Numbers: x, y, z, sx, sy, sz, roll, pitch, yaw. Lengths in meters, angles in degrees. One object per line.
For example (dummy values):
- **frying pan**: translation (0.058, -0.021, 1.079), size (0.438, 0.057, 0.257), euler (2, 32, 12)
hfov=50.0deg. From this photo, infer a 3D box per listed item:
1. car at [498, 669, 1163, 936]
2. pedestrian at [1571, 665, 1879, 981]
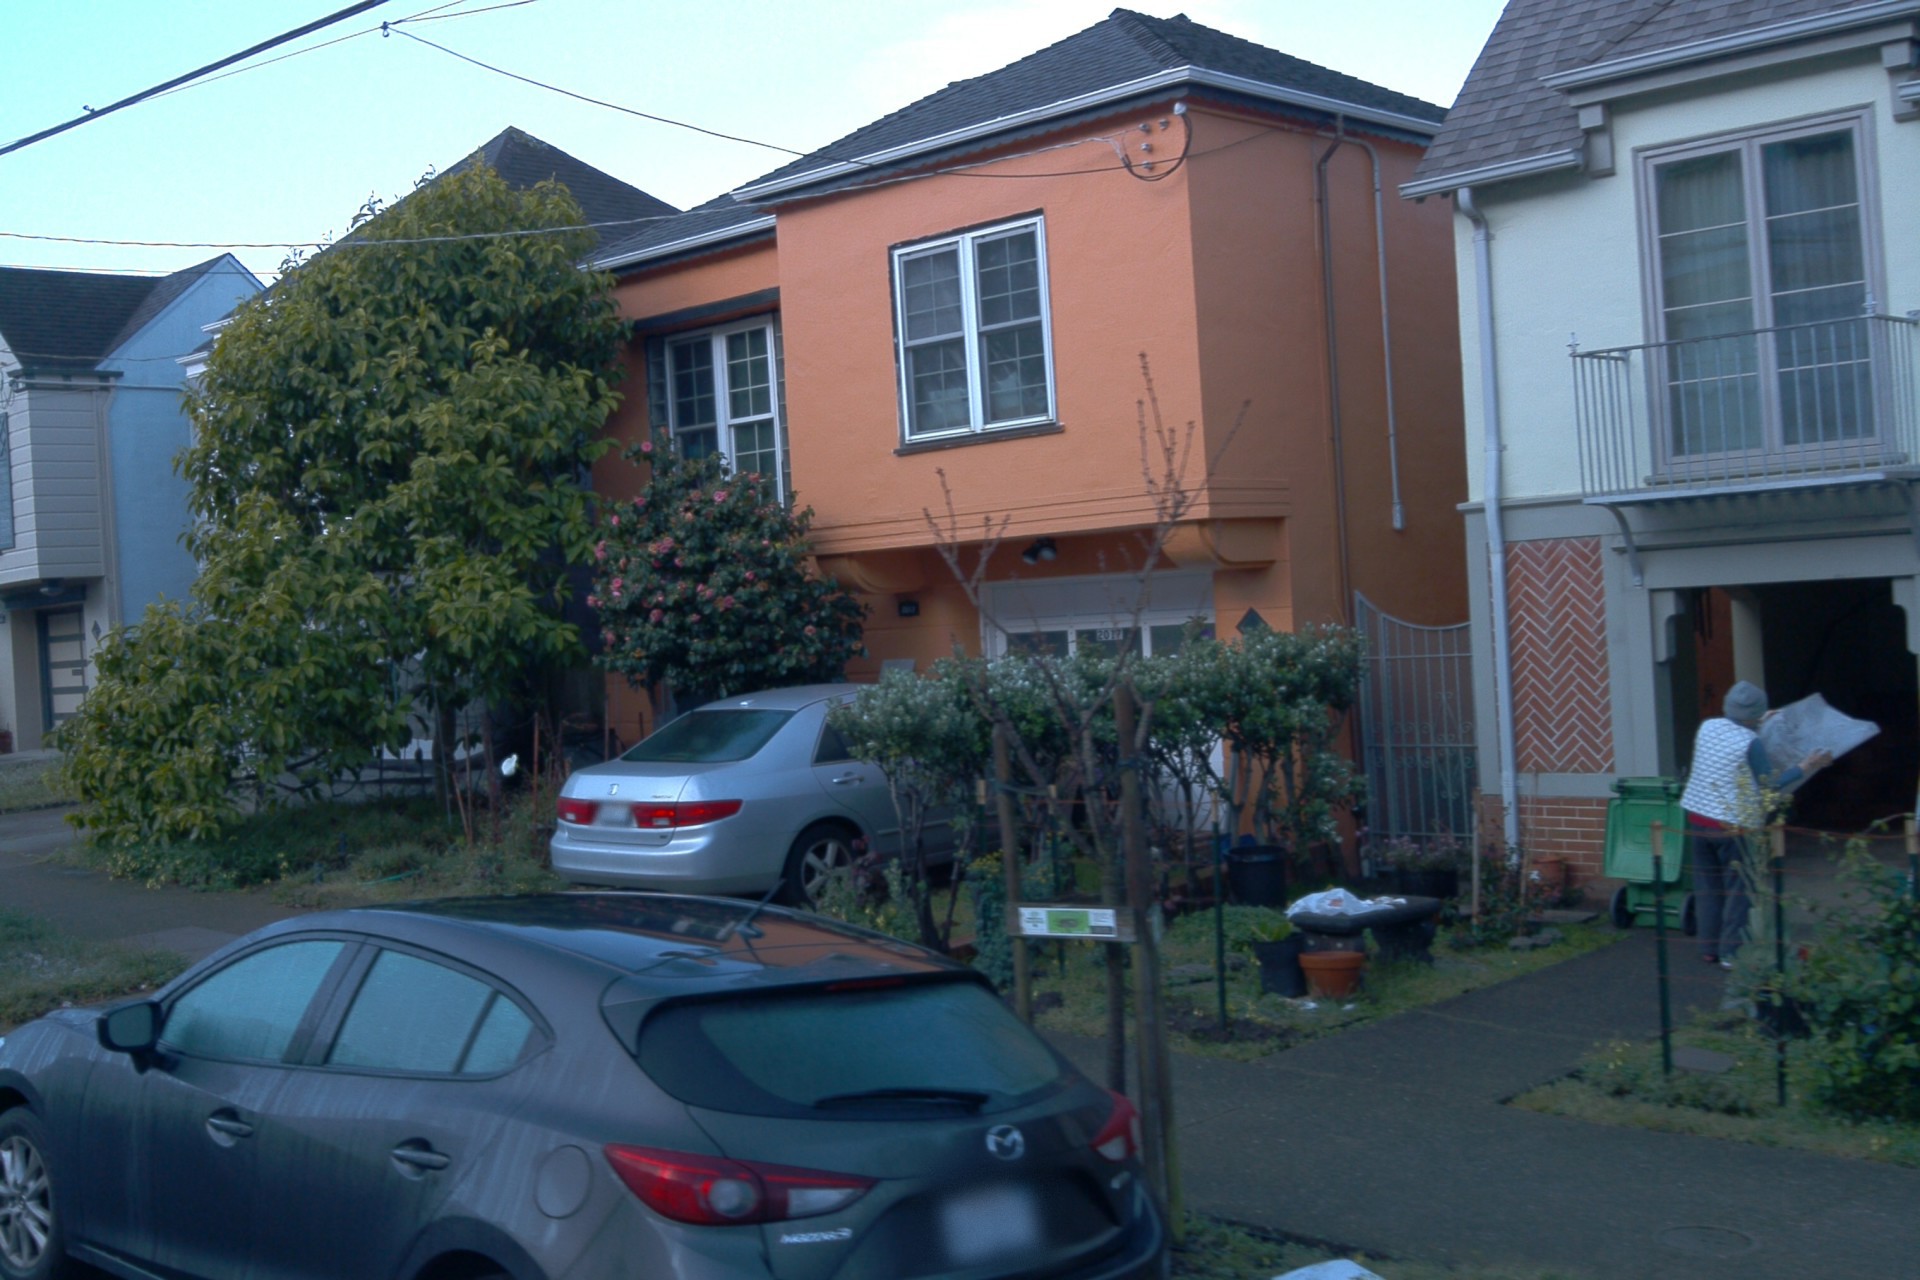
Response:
- **car**: translation (-0.770, 1.010, 14.700), size (1.961, 1.540, 4.591), euler (0, 0, 45)
- **pedestrian**: translation (4.188, 0.955, 11.334), size (1.220, 1.620, 1.013), euler (0, 0, -18)
